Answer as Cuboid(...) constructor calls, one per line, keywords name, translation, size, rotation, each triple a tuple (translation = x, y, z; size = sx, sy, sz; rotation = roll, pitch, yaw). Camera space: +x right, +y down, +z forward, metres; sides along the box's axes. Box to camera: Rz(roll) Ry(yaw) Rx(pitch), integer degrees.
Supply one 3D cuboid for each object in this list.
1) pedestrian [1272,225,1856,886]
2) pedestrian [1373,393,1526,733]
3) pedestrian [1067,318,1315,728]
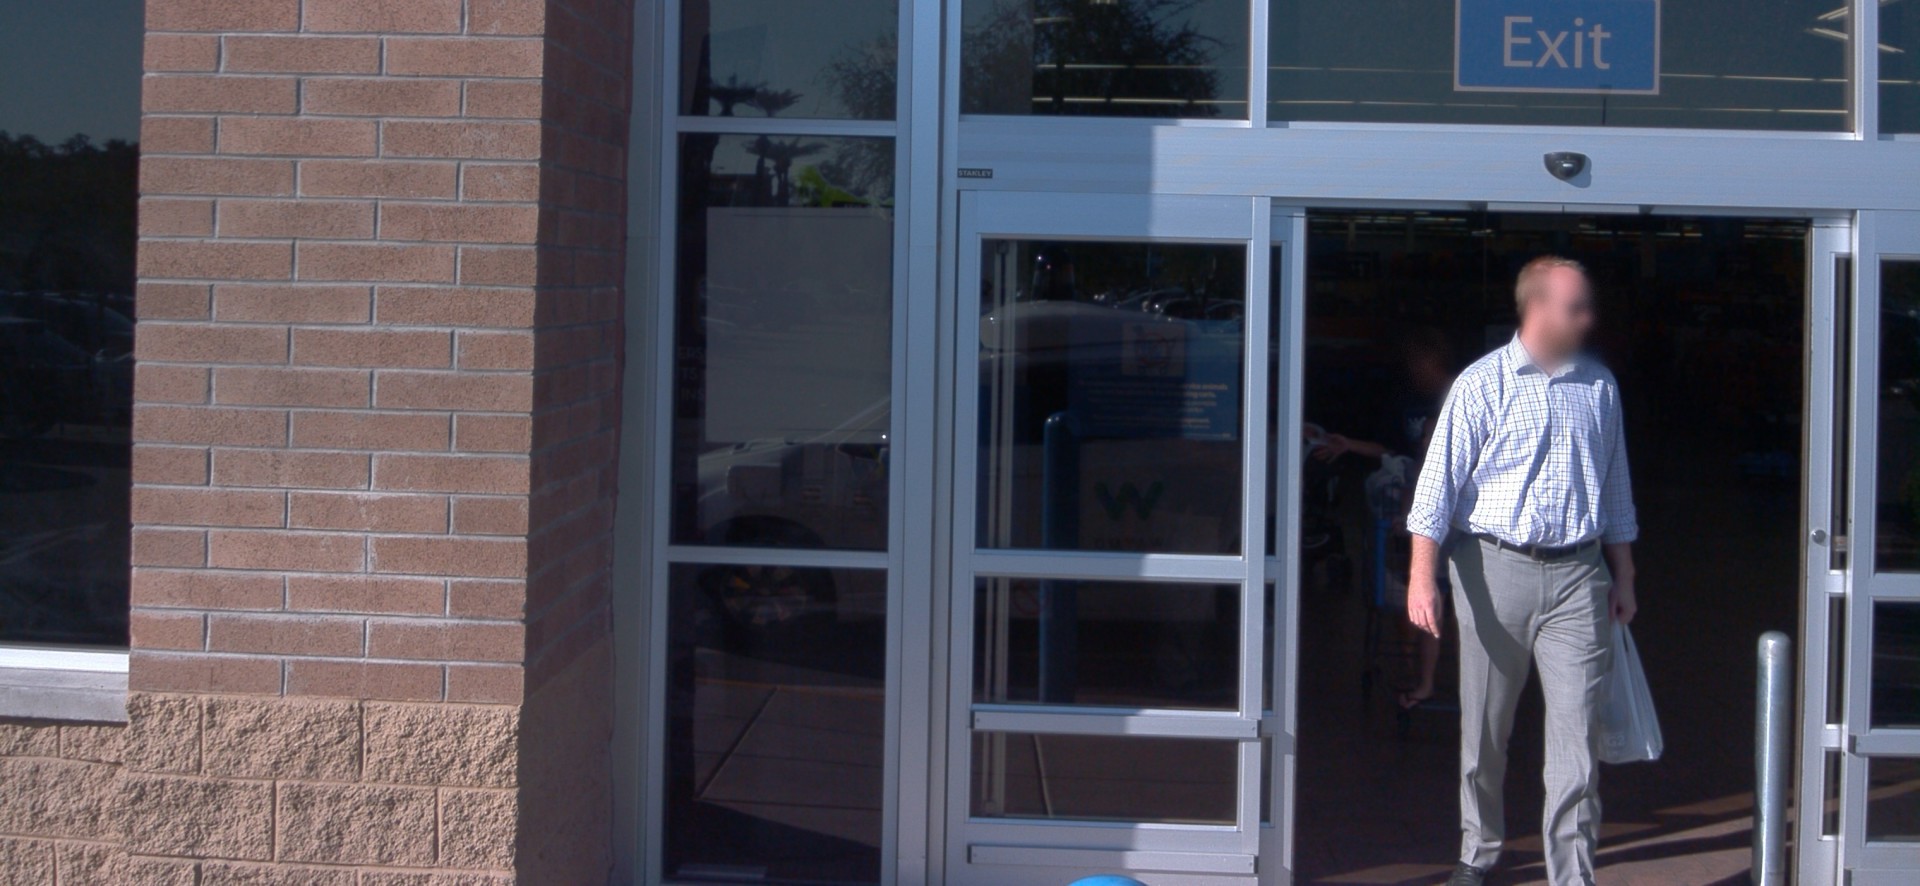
Cuboid(name="pedestrian", translation=(1.746, 0.385, 6.159), size=(1.210, 2.040, 1.136), rotation=(0, 1, -21))
Cuboid(name="pedestrian", translation=(1.916, 0.449, 8.182), size=(0.536, 1.240, 0.545), rotation=(1, 1, 8))
Cuboid(name="pedestrian", translation=(1.018, 0.304, 9.256), size=(0.797, 1.690, 0.782), rotation=(0, 1, -24))
